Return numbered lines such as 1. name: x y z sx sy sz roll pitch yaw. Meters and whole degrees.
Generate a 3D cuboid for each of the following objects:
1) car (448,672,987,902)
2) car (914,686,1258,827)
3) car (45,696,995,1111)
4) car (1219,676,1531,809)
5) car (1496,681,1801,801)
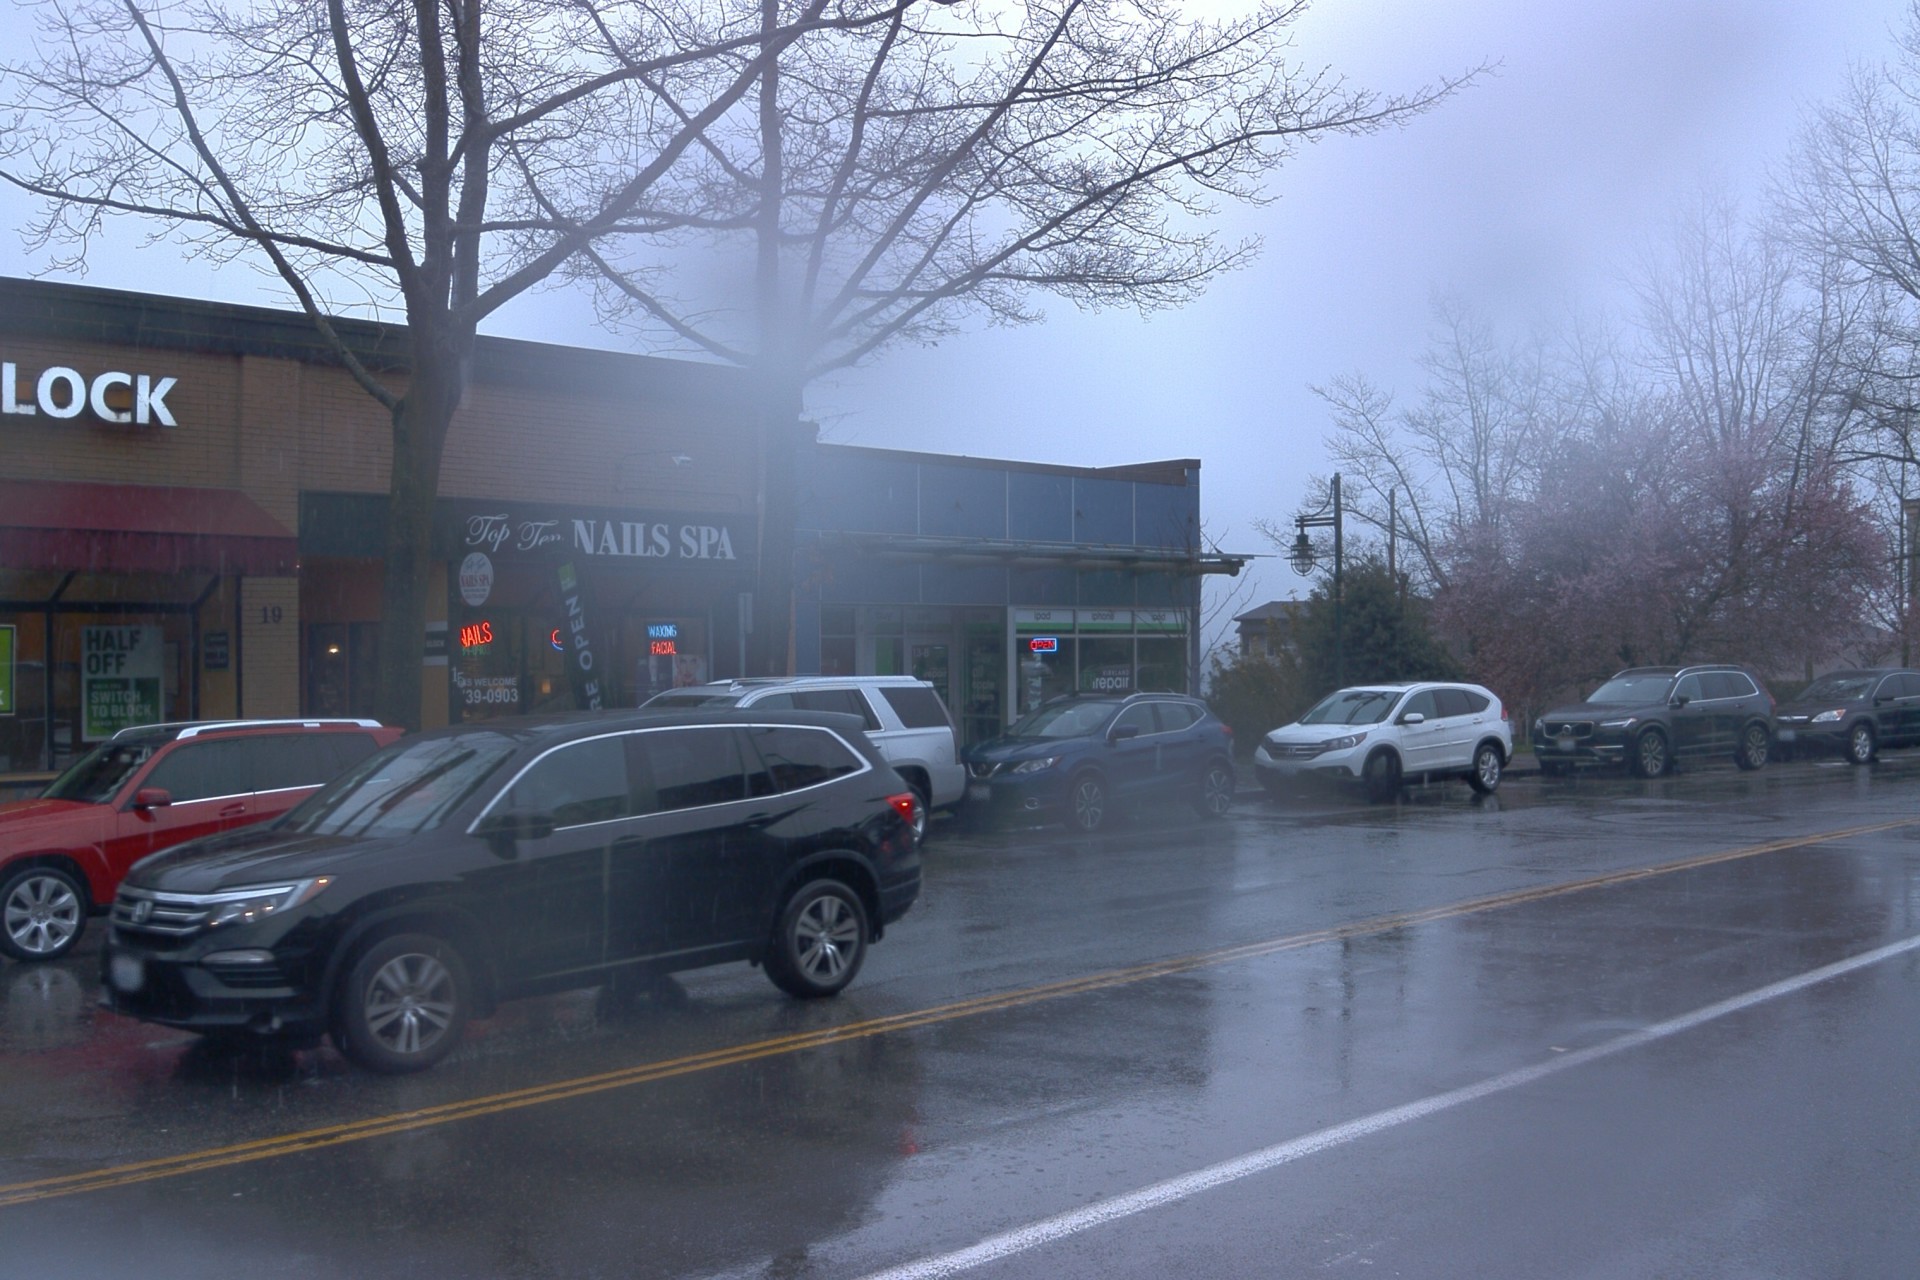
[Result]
1. car: -2.320 1.348 21.042 2.331 1.890 5.194 1 1 42
2. car: 1.625 1.351 25.280 1.999 1.400 4.335 1 1 40
3. car: -2.292 1.282 12.091 2.073 1.690 5.207 1 1 42
4. car: 6.002 1.394 29.598 4.481 1.610 2.181 -1 1 -43
5. car: 11.416 1.594 34.052 5.296 1.690 2.144 -1 1 -37
